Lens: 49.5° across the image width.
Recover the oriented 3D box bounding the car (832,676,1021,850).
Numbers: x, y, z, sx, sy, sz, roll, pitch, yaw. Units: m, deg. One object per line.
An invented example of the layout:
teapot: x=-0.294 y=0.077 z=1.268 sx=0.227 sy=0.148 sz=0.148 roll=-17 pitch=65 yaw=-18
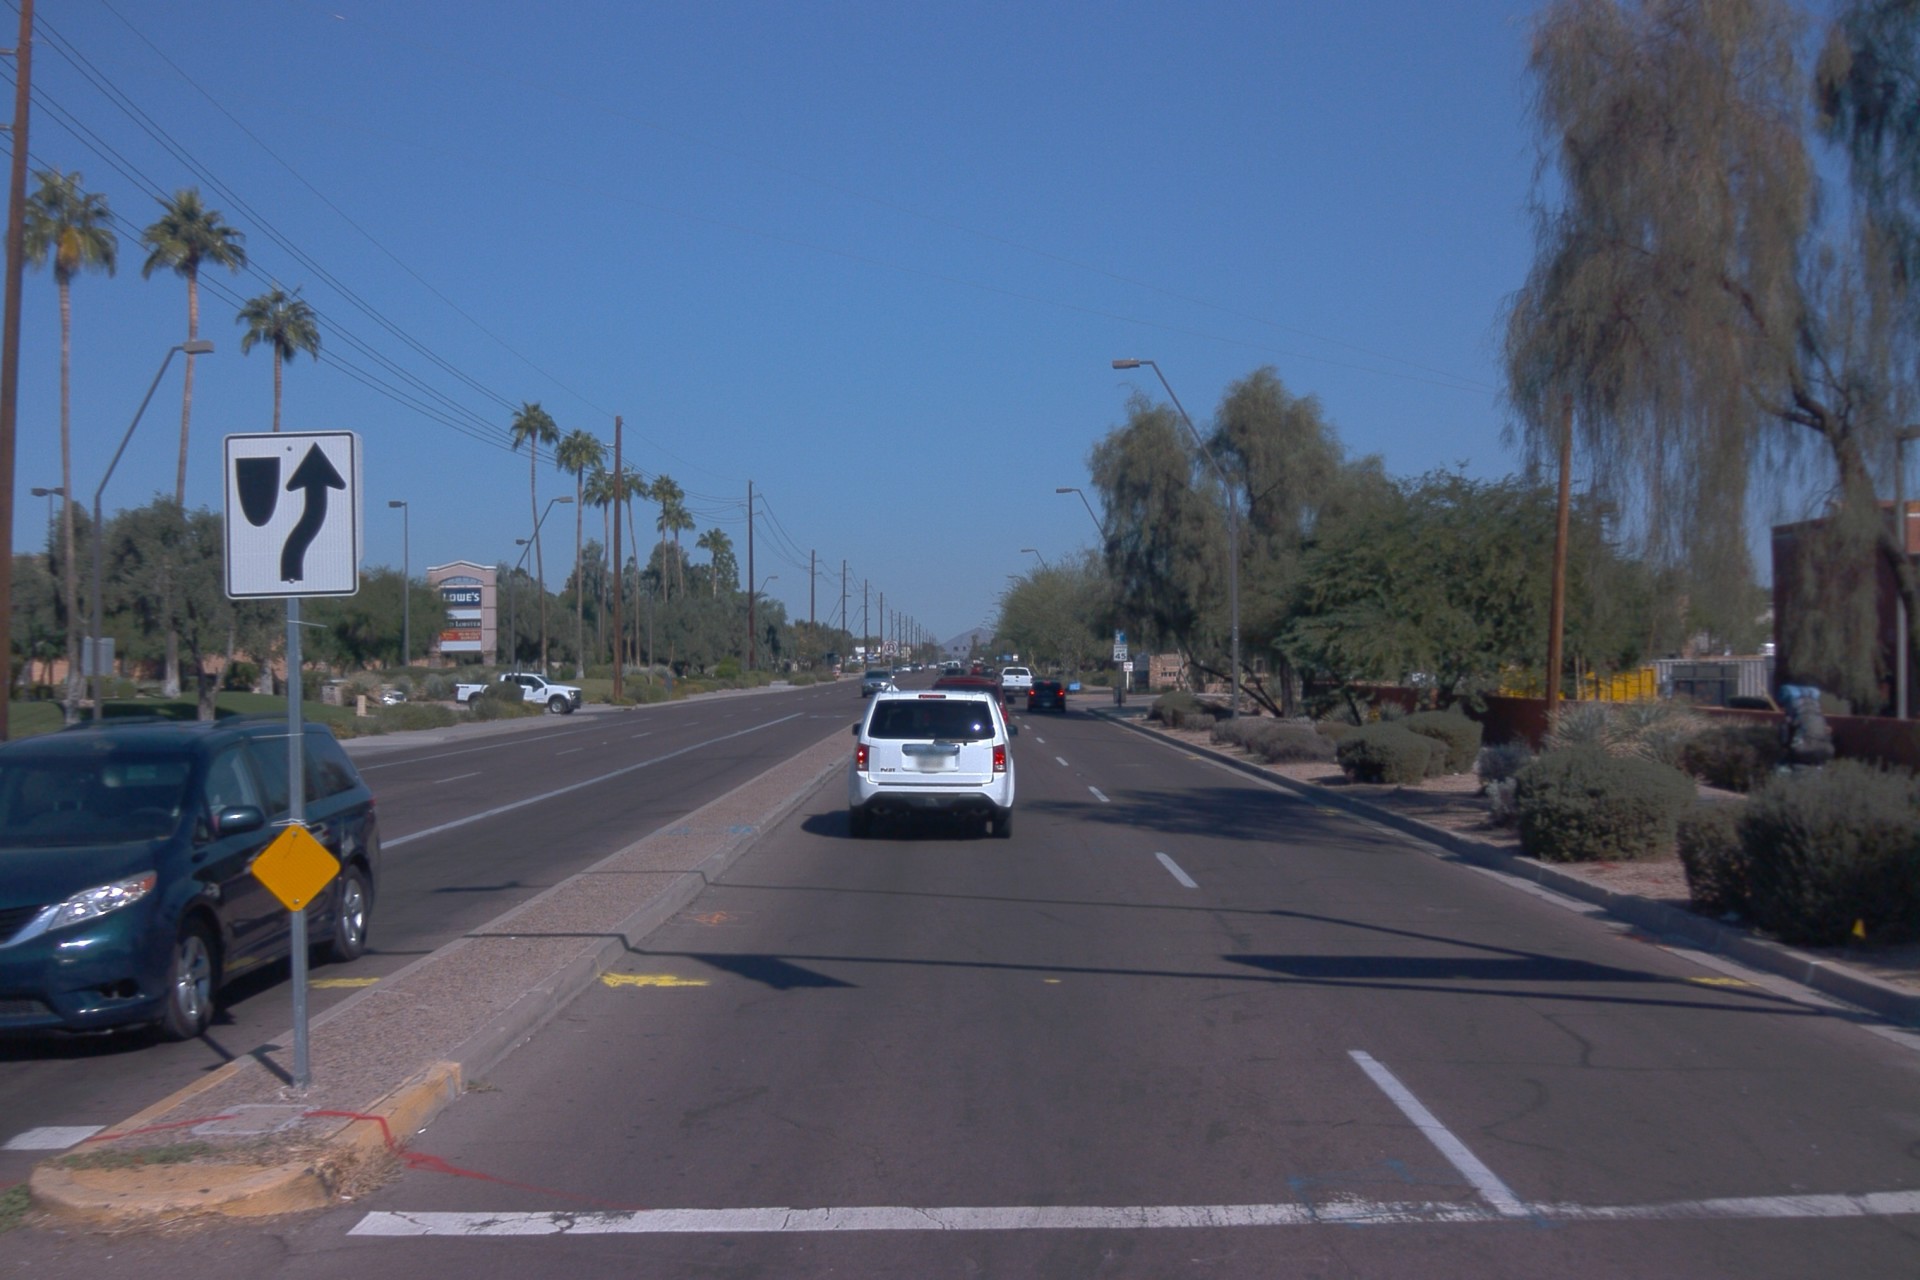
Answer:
car: x=-0.358 y=1.460 z=26.449 sx=2.164 sy=1.960 sz=4.678 roll=1 pitch=0 yaw=1

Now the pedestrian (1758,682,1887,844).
pedestrian: x=9.675 y=1.364 z=23.387 sx=1.025 sy=1.750 sz=1.081 roll=1 pitch=0 yaw=4
